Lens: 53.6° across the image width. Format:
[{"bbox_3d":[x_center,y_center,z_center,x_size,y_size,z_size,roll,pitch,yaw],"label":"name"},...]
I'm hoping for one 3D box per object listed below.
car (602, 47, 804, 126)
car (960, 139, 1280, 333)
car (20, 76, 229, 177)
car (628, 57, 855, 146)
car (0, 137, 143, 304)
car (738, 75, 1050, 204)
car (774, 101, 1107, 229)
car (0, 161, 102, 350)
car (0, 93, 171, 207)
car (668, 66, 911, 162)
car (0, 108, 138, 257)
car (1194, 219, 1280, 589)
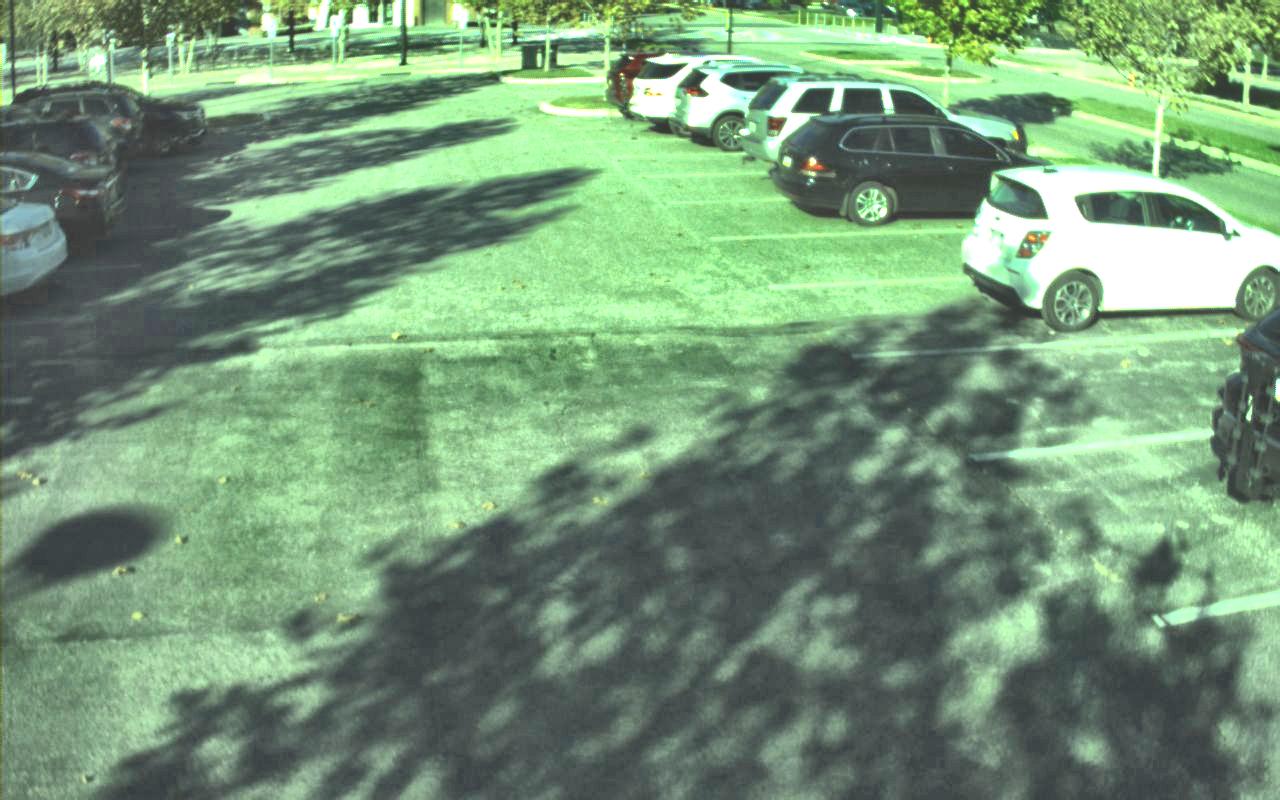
[{"bbox_3d":[1.474,-7.554,29.665,4.494,1.748,2.002,-4,17,-11],"label":"car"},{"bbox_3d":[5.698,-1.837,12.576,4.233,1.664,1.911,-4,16,-10],"label":"car"},{"bbox_3d":[-11.294,-5.950,25.090,4.486,1.641,1.971,-4,16,-10],"label":"car"},{"bbox_3d":[2.198,-6.567,27.036,4.595,1.783,2.013,-5,17,-11],"label":"car"},{"bbox_3d":[-8.985,-2.427,14.980,4.400,1.595,1.950,-5,17,-12],"label":"car"},{"bbox_3d":[4.117,-4.282,19.913,4.746,1.870,2.061,-4,16,-8],"label":"car"},{"bbox_3d":[4.298,-3.414,17.437,4.471,1.567,1.936,-4,16,-9],"label":"car"},{"bbox_3d":[-8.597,-1.653,12.581,4.395,1.580,1.943,-3,16,-6],"label":"car"},{"bbox_3d":[-11.639,-4.919,22.312,4.481,1.672,1.995,-3,16,-6],"label":"car"},{"bbox_3d":[2.973,-5.775,24.729,4.518,1.774,1.987,-4,16,-10],"label":"car"},{"bbox_3d":[-10.037,-3.354,17.073,4.464,1.647,1.979,-5,17,-13],"label":"car"},{"bbox_3d":[6.281,-0.195,7.428,4.569,1.760,2.002,-5,17,-14],"label":"car"}]
